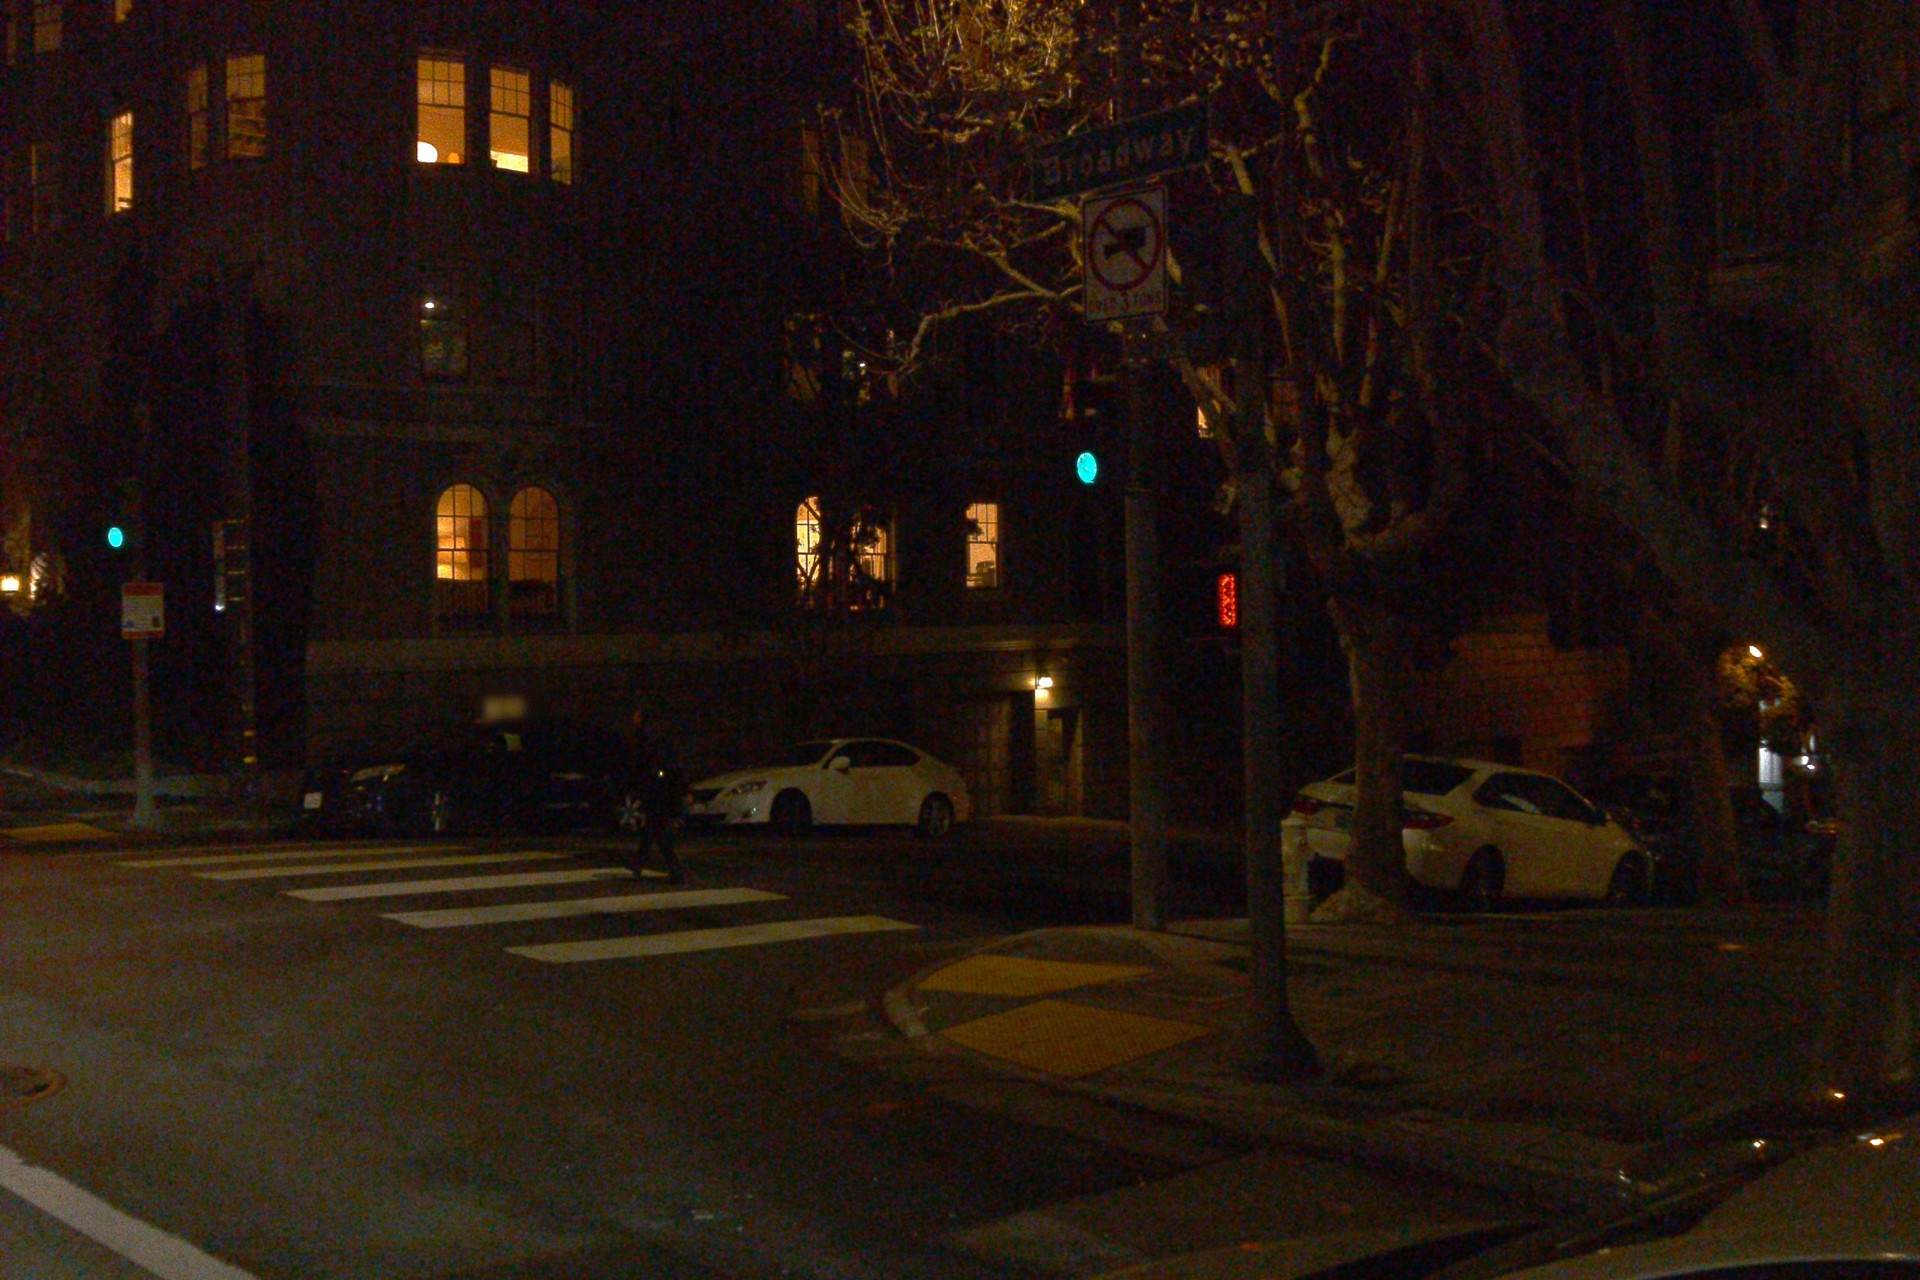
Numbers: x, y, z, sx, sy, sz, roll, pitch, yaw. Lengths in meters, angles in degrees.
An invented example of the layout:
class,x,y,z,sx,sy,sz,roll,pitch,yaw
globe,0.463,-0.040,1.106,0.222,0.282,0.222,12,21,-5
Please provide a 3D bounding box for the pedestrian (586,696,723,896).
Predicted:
class,x,y,z,sx,sy,sz,roll,pitch,yaw
pedestrian,-2.538,1.265,17.034,0.903,1.570,0.706,0,0,43

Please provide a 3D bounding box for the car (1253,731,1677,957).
class,x,y,z,sx,sy,sz,roll,pitch,yaw
car,5.162,1.929,20.643,4.554,1.811,1.990,0,0,-44

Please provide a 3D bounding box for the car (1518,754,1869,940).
class,x,y,z,sx,sy,sz,roll,pitch,yaw
car,8.910,2.380,24.707,4.887,1.744,1.990,0,0,-44

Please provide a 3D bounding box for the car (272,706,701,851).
class,x,y,z,sx,sy,sz,roll,pitch,yaw
car,-5.394,1.526,23.891,1.838,1.362,4.644,1,0,42

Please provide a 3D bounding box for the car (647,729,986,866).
class,x,y,z,sx,sy,sz,roll,pitch,yaw
car,-1.845,2.050,27.685,1.919,1.482,4.488,1,0,42
